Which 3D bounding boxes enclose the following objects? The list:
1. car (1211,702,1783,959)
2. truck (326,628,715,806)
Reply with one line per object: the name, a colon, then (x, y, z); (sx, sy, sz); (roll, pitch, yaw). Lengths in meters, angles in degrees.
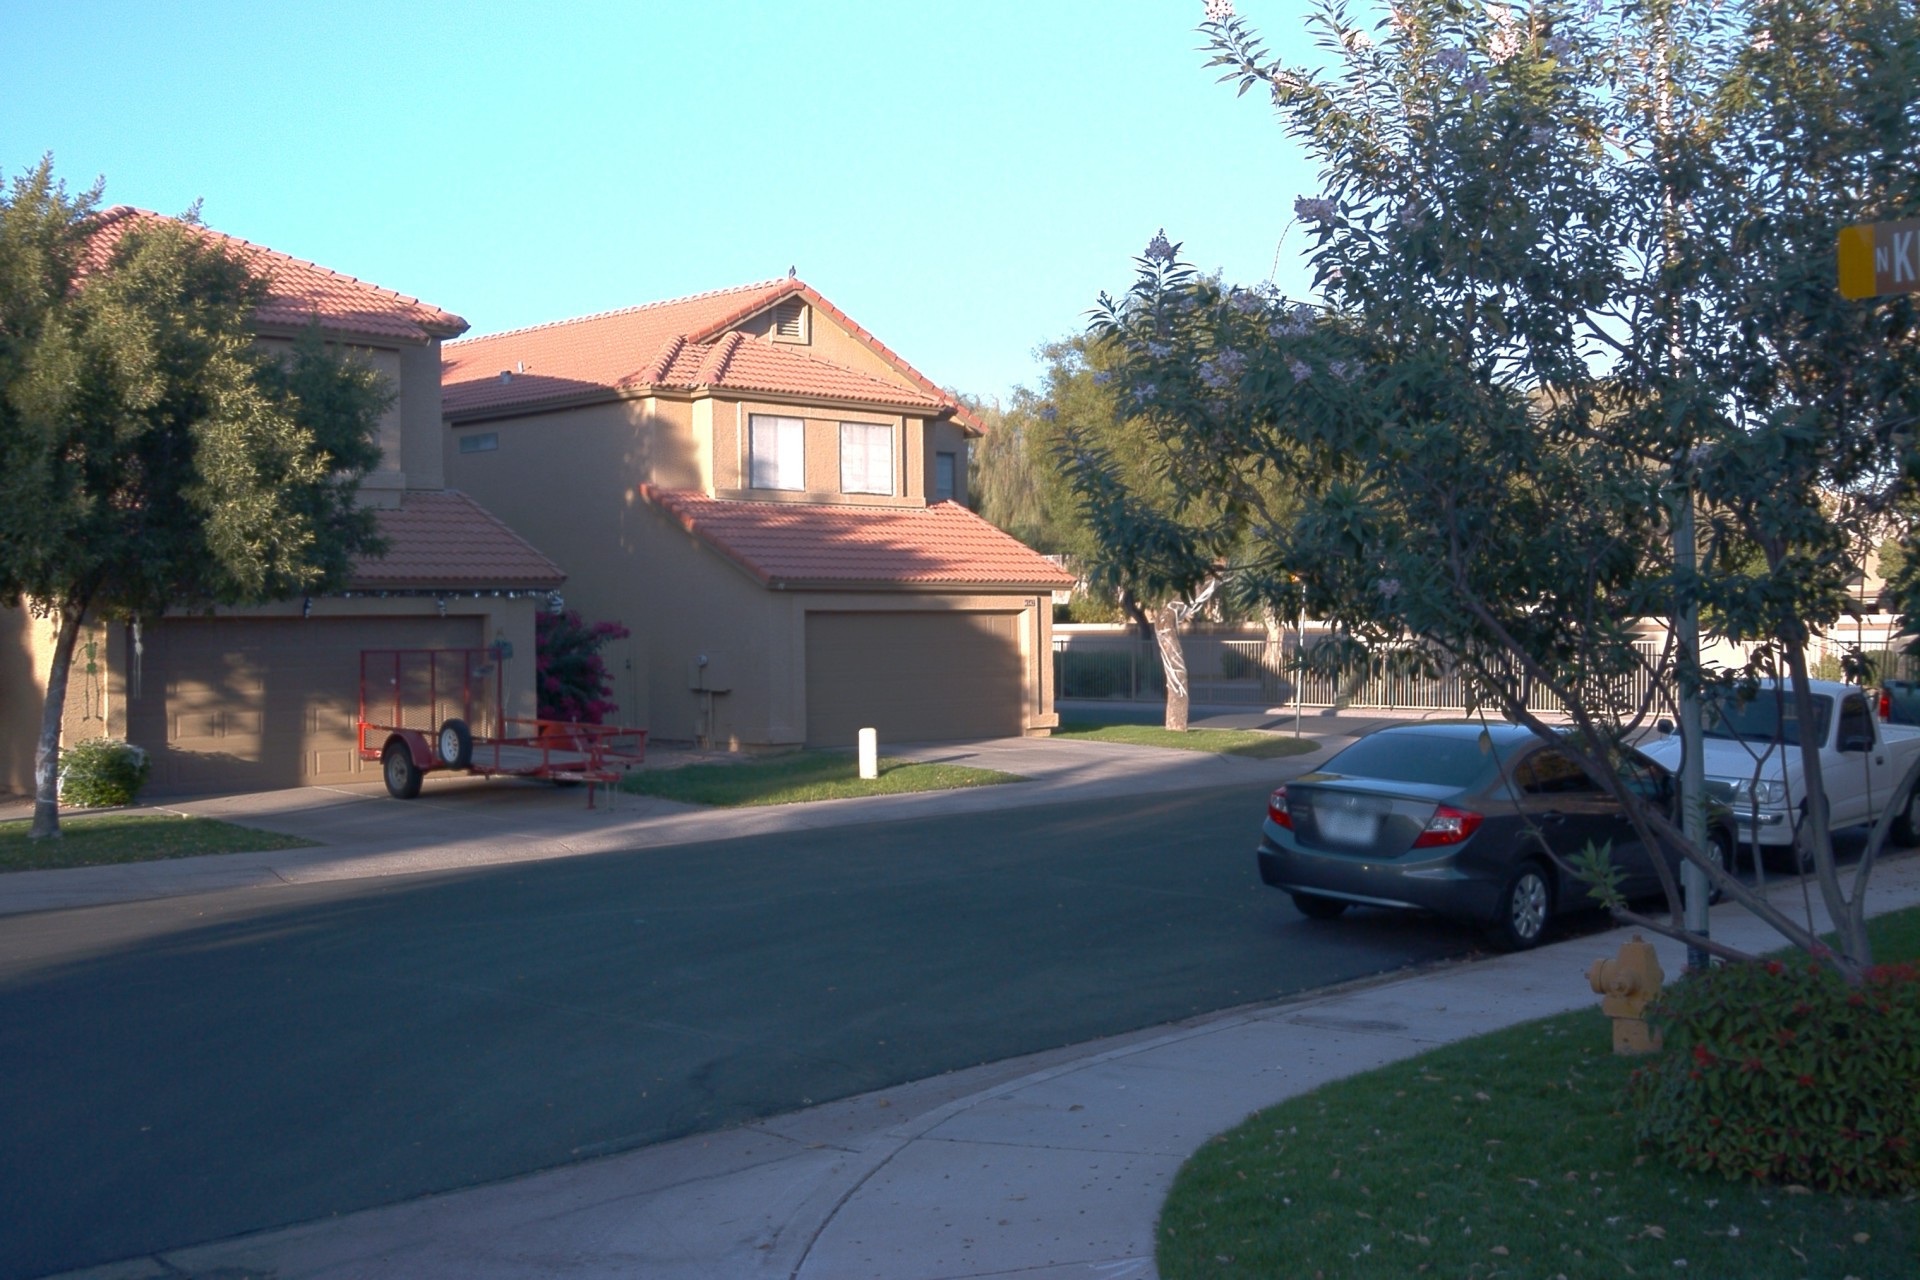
car: (3.988, 1.226, 14.948); (2.054, 1.470, 4.462); (0, -1, 44)
truck: (-5.265, 0.840, 24.597); (2.622, 1.900, 4.348); (1, -1, -43)
